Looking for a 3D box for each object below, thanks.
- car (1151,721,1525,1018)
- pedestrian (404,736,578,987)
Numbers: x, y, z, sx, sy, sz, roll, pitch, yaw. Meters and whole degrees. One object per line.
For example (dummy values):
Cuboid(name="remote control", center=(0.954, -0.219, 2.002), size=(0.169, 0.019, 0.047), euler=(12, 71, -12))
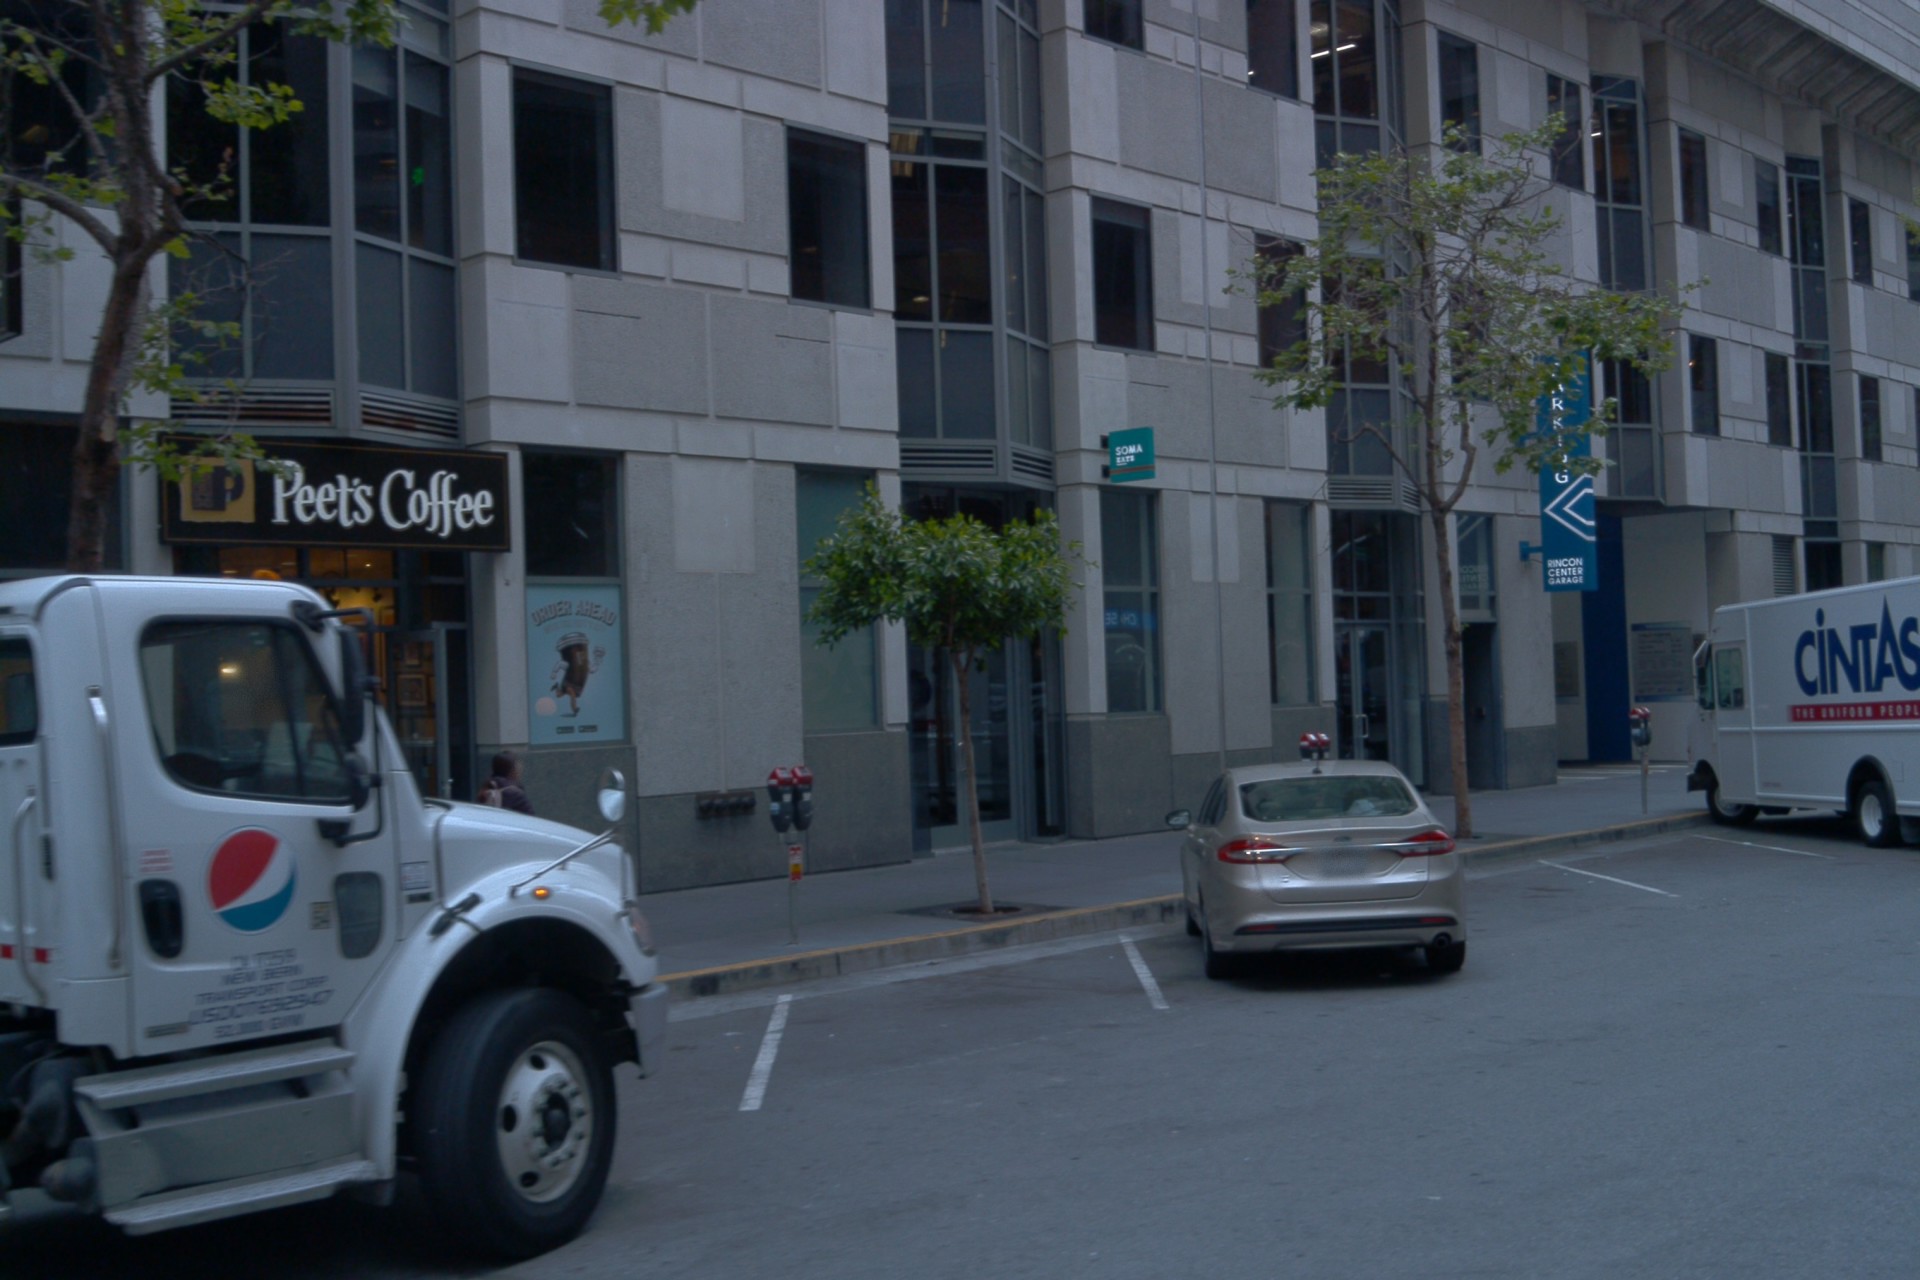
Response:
Cuboid(name="car", center=(2.664, 1.577, 15.776), size=(2.171, 1.660, 4.895), euler=(0, 1, 3))
Cuboid(name="pedestrian", center=(-3.498, 1.615, 15.401), size=(0.766, 1.720, 1.004), euler=(1, 1, 44))
